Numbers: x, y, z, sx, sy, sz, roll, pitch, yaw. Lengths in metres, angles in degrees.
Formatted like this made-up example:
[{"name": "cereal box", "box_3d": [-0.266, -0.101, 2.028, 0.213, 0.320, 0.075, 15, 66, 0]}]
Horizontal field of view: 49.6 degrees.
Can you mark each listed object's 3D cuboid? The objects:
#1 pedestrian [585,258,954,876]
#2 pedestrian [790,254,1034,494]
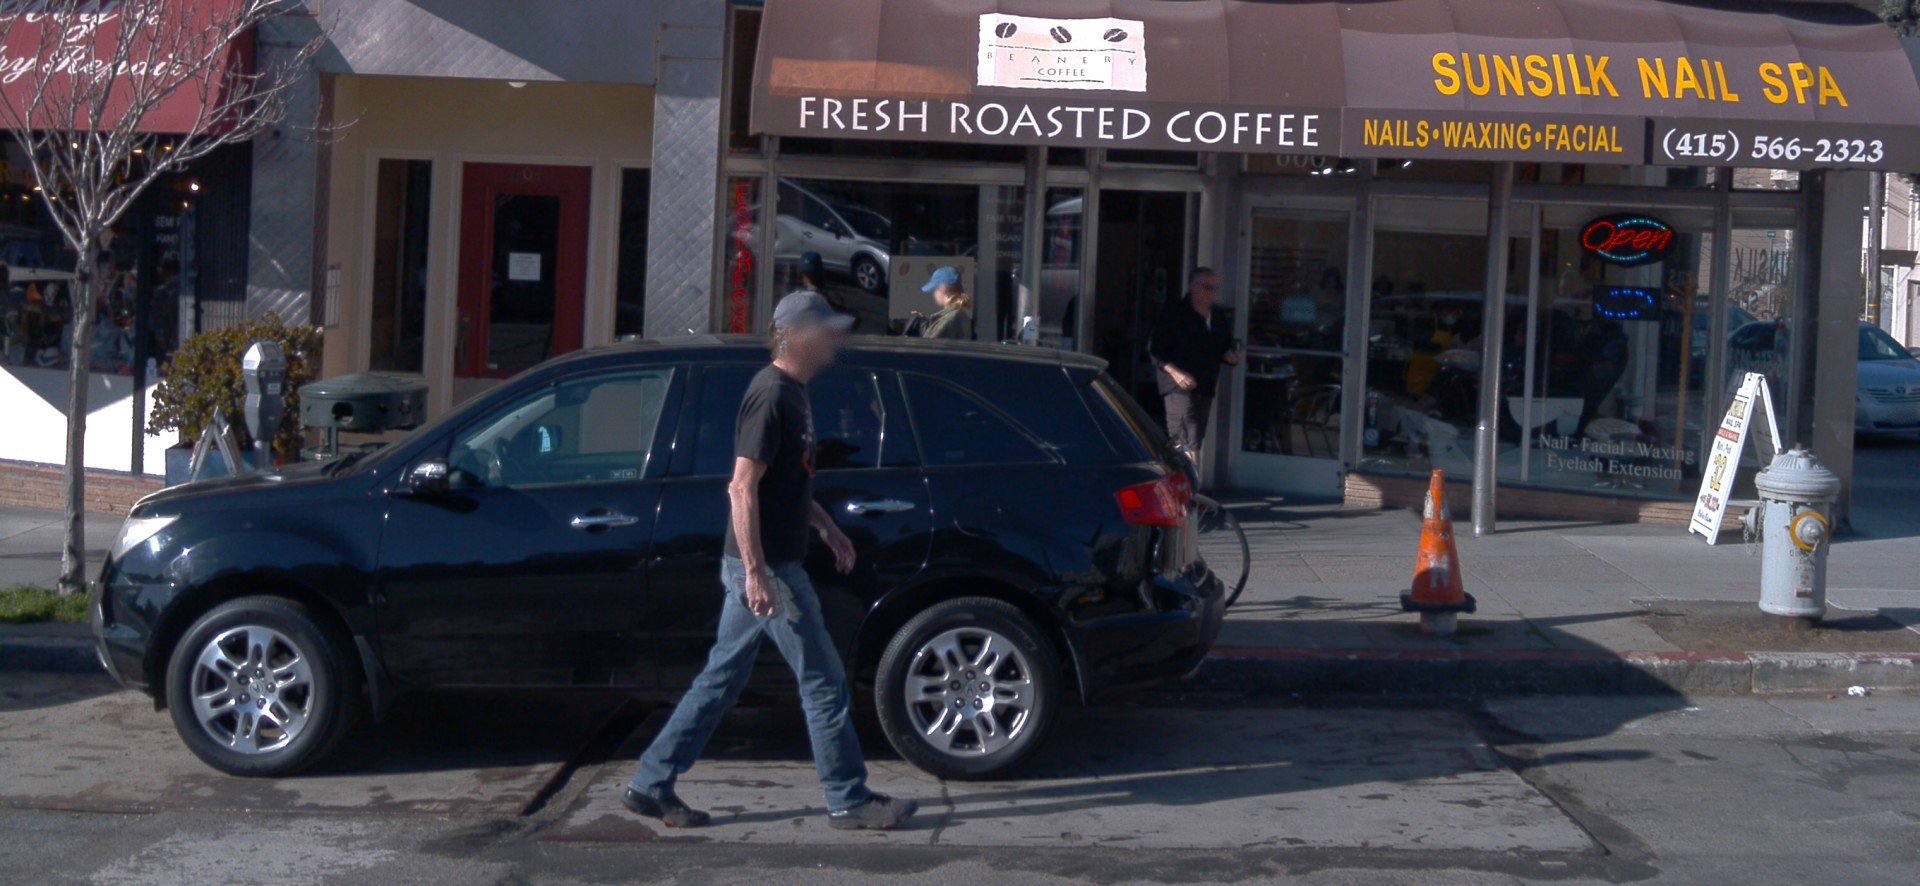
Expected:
[{"name": "pedestrian", "box_3d": [-0.675, 0.371, 7.325, 1.194, 2.006, 0.875, 1, 2, -7]}, {"name": "pedestrian", "box_3d": [-0.305, -0.490, 13.652, 1.335, 1.457, 0.884, 2, 3, 21]}]
